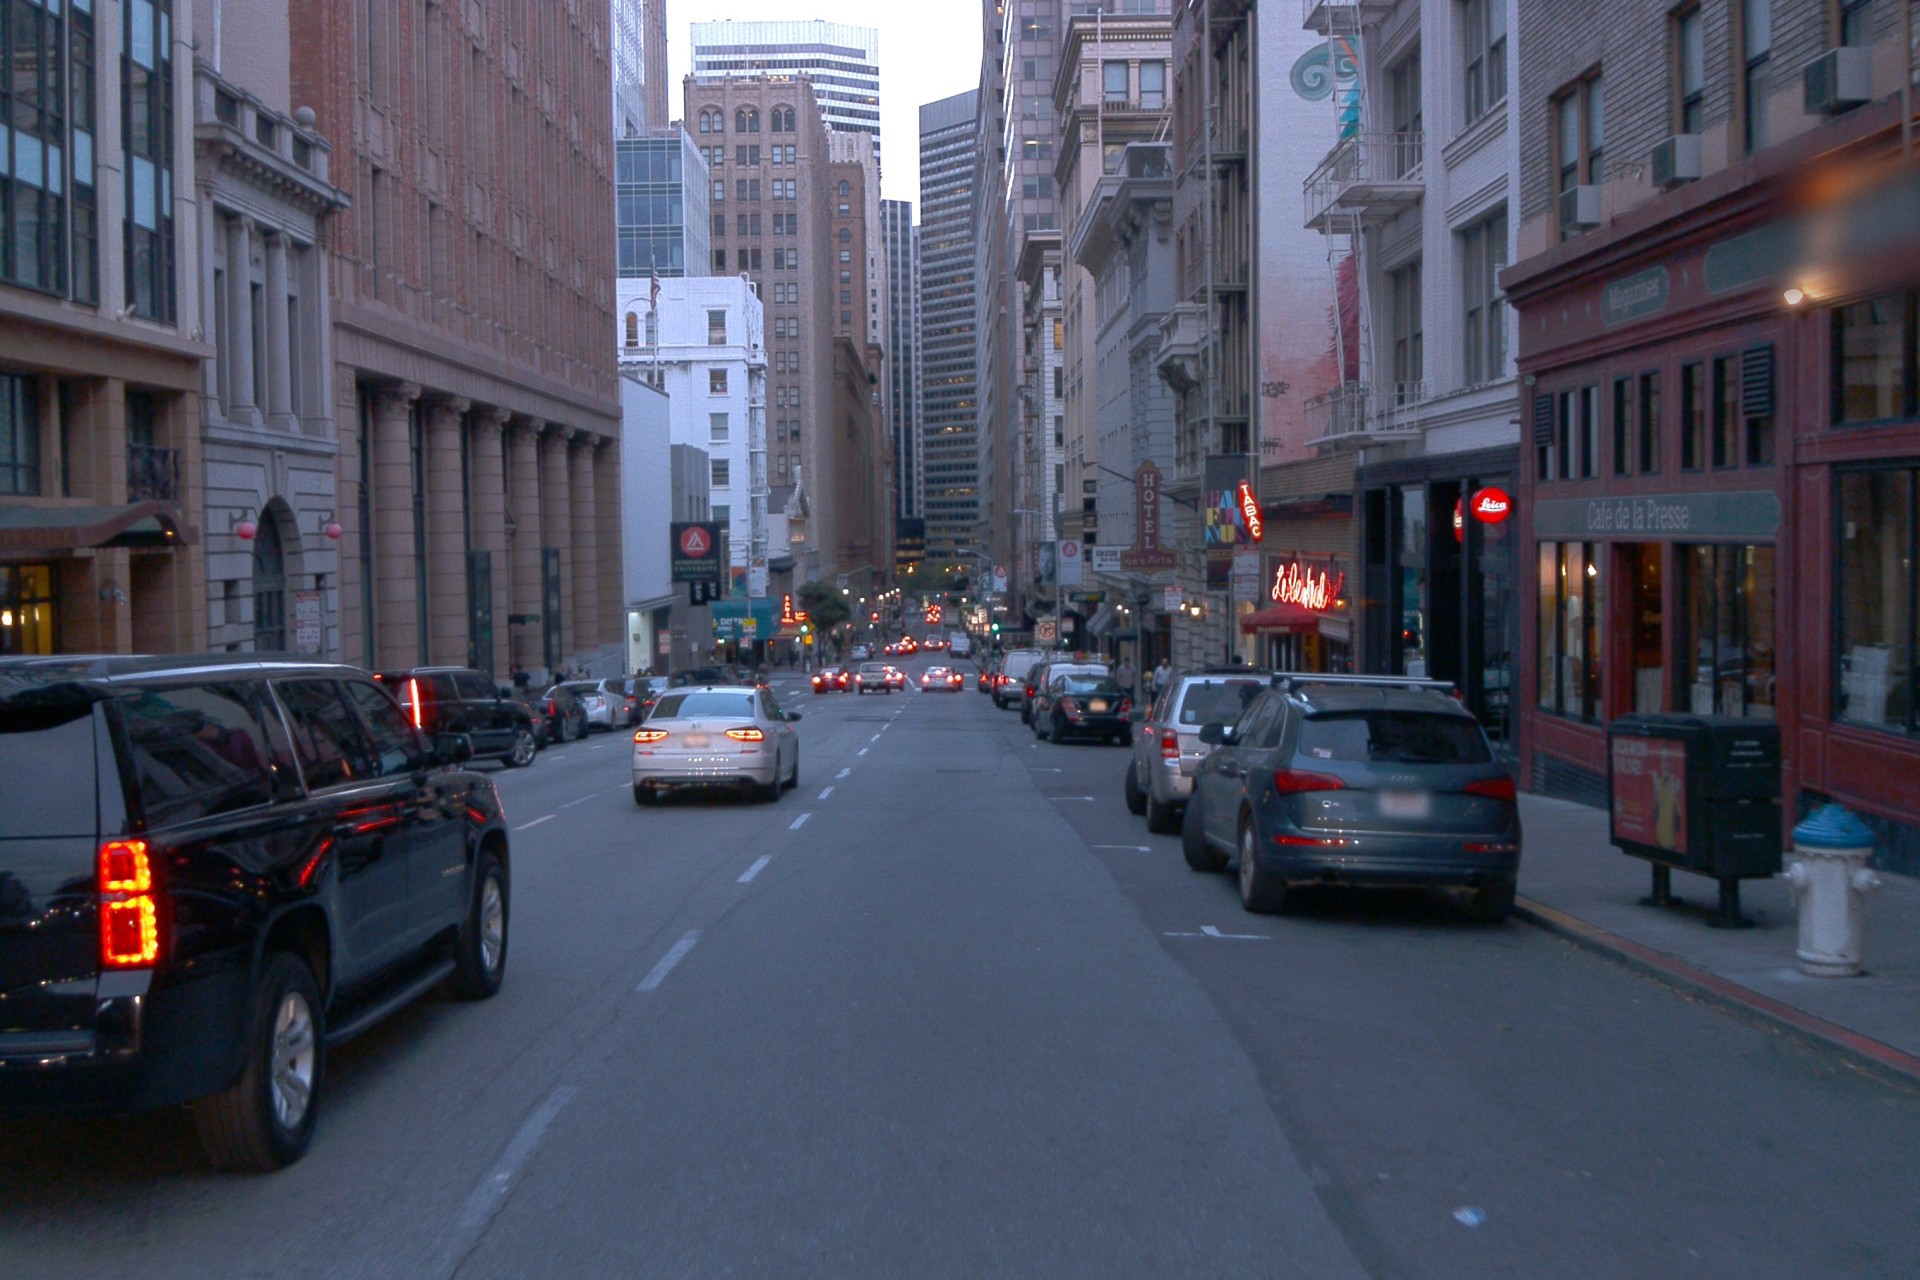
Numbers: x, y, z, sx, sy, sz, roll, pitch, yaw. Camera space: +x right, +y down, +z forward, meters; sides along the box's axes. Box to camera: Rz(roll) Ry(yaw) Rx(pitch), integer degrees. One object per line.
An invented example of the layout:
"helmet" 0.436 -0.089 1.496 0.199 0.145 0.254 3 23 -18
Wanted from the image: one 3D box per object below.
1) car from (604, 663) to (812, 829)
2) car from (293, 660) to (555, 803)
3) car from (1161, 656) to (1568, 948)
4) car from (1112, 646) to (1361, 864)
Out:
"car" -3.159 1.290 26.750 2.119 1.850 4.733 0 1 0
"car" -9.034 1.470 35.266 2.345 2.121 5.588 0 1 8
"car" 2.943 1.102 16.182 2.215 1.850 4.835 0 1 0
"car" 2.918 1.150 22.688 2.112 2.100 4.445 0 1 0
